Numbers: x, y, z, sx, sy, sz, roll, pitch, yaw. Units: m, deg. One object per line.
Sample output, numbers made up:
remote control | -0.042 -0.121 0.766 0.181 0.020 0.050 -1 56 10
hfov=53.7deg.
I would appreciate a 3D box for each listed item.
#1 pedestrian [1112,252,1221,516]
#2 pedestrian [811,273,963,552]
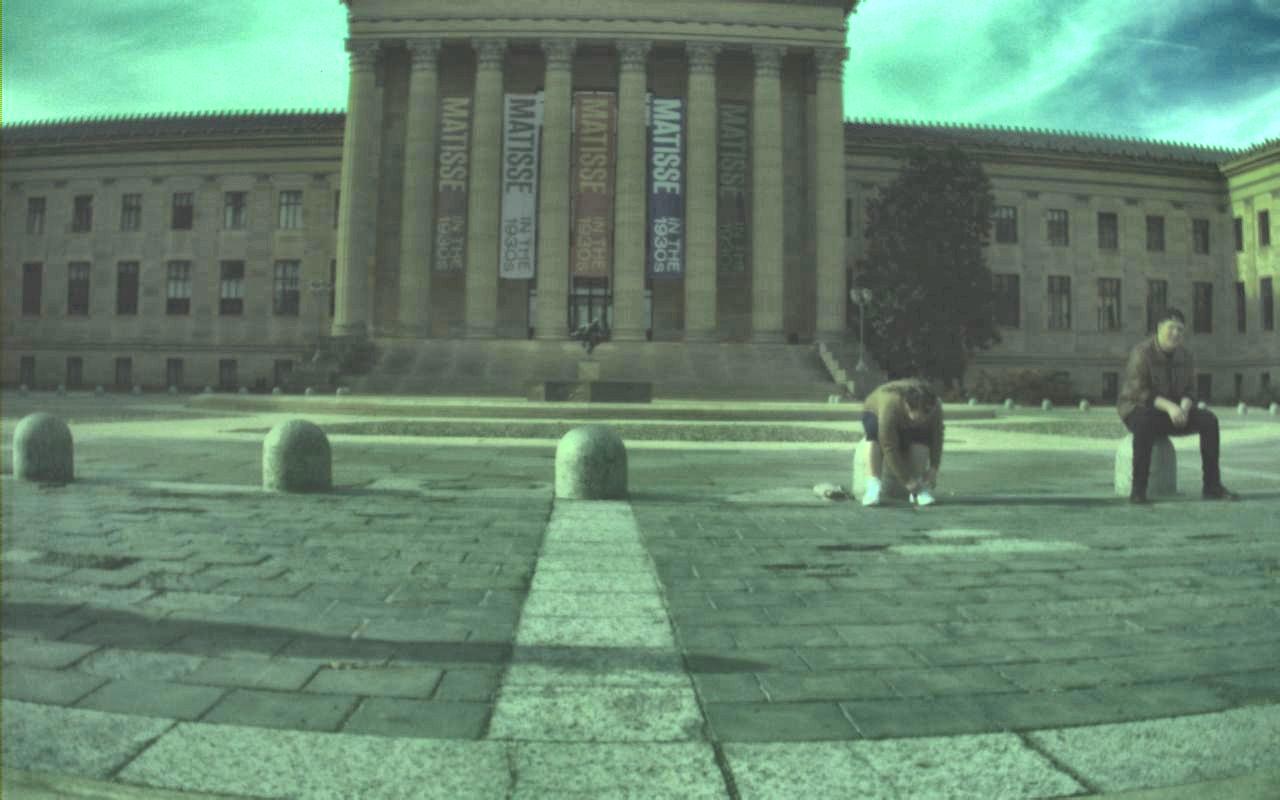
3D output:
pedestrian | 3.515 -0.093 7.838 0.711 1.697 0.736 1 0 20
pedestrian | 1.527 0.071 7.715 0.665 1.635 0.695 0 0 -22
